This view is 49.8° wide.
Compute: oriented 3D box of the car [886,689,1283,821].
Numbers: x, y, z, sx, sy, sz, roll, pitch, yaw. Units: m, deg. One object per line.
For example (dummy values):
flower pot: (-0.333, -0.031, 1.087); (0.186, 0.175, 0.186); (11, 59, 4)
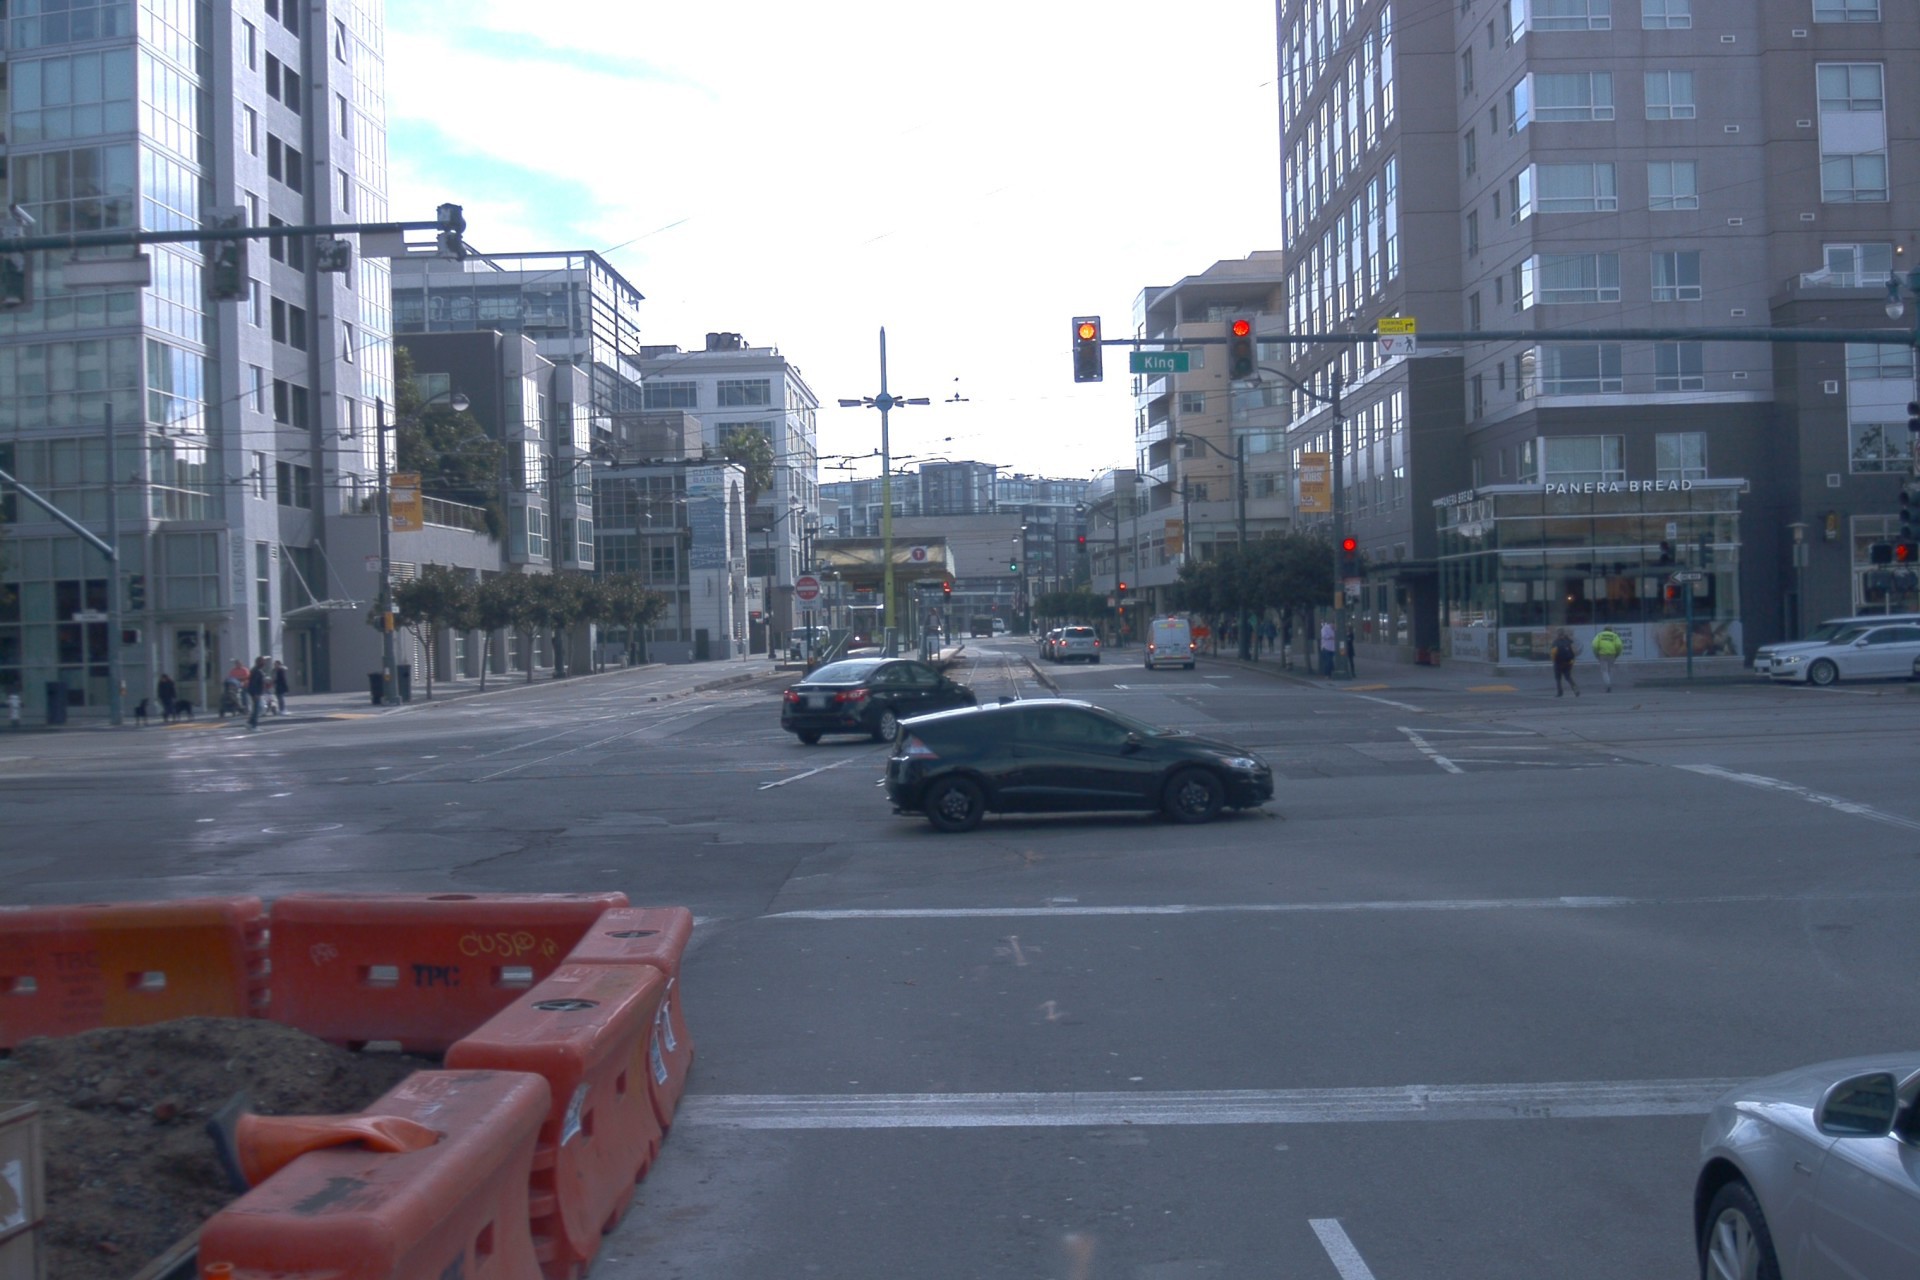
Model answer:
car: (1.255, 1.208, 22.308); (4.101, 1.278, 1.974); (0, 0, -2)

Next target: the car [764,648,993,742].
car: (-1.386, 0.939, 37.314); (1.984, 1.554, 4.597); (0, 0, 29)
